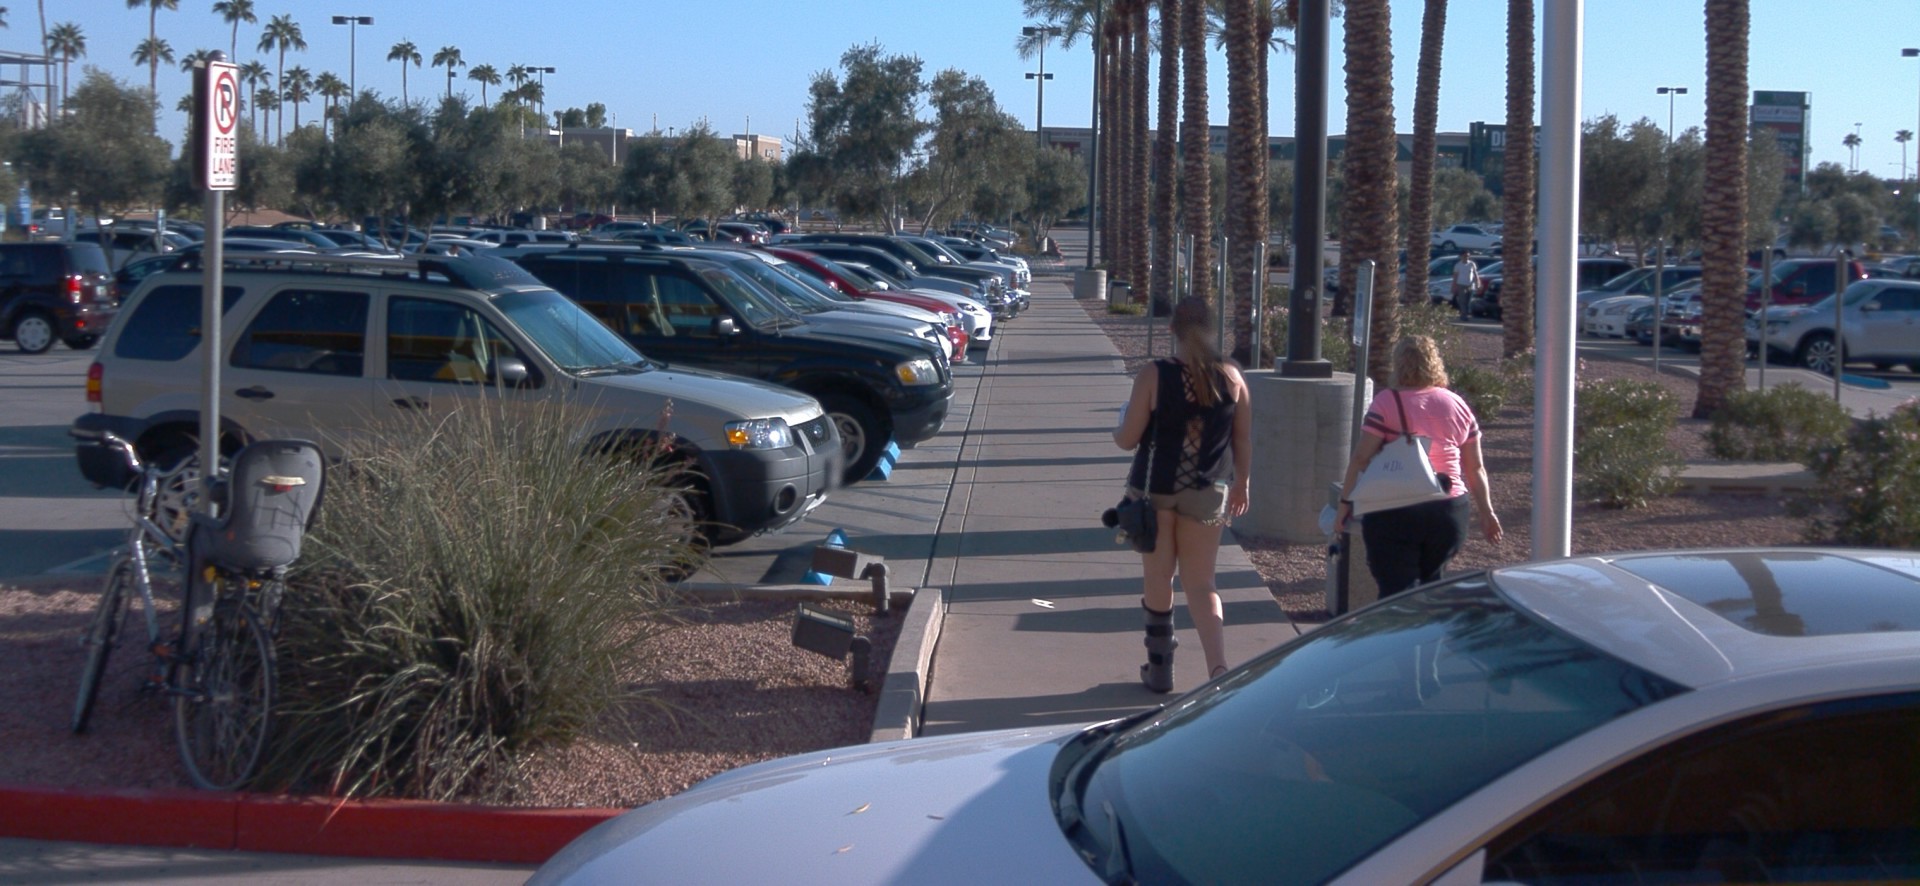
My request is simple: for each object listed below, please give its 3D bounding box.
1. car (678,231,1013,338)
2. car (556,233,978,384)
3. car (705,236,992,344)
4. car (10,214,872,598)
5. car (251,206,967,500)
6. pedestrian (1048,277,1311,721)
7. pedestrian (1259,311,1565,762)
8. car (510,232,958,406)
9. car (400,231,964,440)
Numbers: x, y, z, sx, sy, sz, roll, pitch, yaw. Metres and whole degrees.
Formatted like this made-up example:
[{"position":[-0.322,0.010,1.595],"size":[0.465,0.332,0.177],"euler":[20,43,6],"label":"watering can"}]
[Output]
[{"position":[-2.067,-3.020,39.058],"size":[6.083,1.845,2.452],"euler":[1,4,0],"label":"car"},{"position":[-2.364,-1.760,26.484],"size":[5.084,1.755,2.151],"euler":[1,4,2],"label":"car"},{"position":[-1.891,-2.696,36.217],"size":[4.853,1.736,1.871],"euler":[1,4,0],"label":"car"},{"position":[-2.986,-0.340,12.459],"size":[4.568,1.986,2.008],"euler":[2,3,9],"label":"car"},{"position":[-2.676,-0.812,16.873],"size":[5.348,2.135,2.268],"euler":[1,4,2],"label":"car"},{"position":[0.951,0.193,9.293],"size":[0.949,1.828,1.141],"euler":[1,2,-5],"label":"pedestrian"},{"position":[1.953,0.354,9.104],"size":[1.001,1.808,1.002],"euler":[1,2,-8],"label":"pedestrian"},{"position":[-2.482,-1.463,23.682],"size":[4.762,1.805,2.091],"euler":[1,4,3],"label":"car"},{"position":[-2.537,-1.101,19.912],"size":[4.915,1.765,2.429],"euler":[1,4,5],"label":"car"}]
